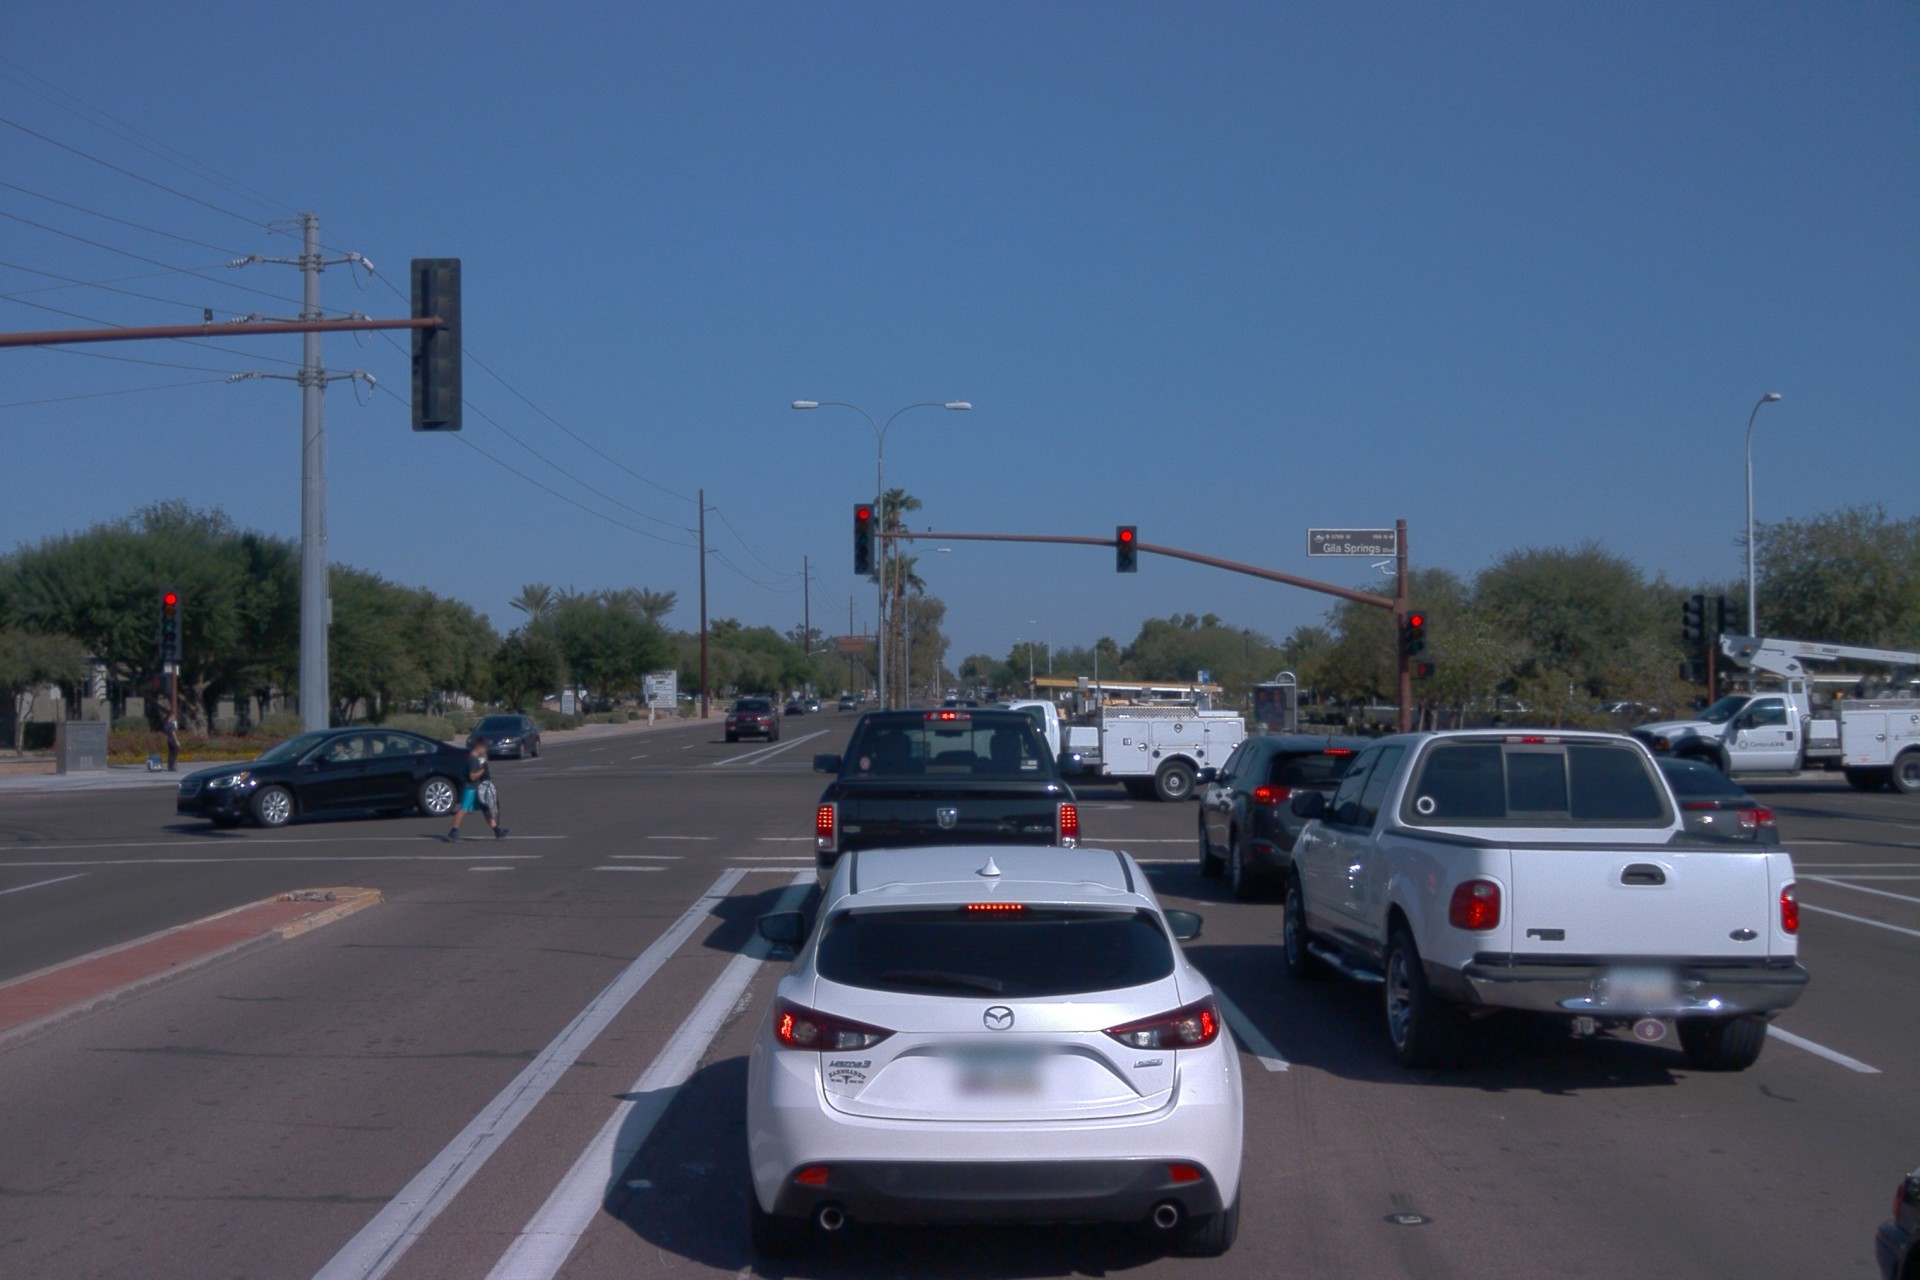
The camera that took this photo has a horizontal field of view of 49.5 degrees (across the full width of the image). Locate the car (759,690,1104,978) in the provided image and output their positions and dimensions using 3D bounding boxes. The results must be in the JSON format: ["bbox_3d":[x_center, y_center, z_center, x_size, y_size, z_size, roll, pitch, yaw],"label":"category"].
[{"bbox_3d":[-0.134,1.467,17.584,2.500,2.080,5.001,0,-1,2],"label":"car"}]

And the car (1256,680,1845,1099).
[{"bbox_3d":[3.316,1.306,13.068,2.073,2.070,5.518,0,-1,-1],"label":"car"}]

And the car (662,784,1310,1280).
[{"bbox_3d":[0.088,1.526,9.067,2.099,1.600,4.628,0,-1,0],"label":"car"}]

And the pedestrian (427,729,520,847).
[{"bbox_3d":[-6.465,1.954,27.696,1.087,1.530,0.743,0,-1,-3],"label":"pedestrian"}]

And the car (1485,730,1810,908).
[{"bbox_3d":[6.818,1.727,21.182,1.828,1.540,4.447,0,-1,0],"label":"car"}]

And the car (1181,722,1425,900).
[{"bbox_3d":[3.478,1.702,21.852,1.789,1.630,4.213,0,-1,-1],"label":"car"}]

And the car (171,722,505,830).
[{"bbox_3d":[-9.822,2.103,33.122,4.714,1.530,1.934,1,-2,-42],"label":"car"}]
